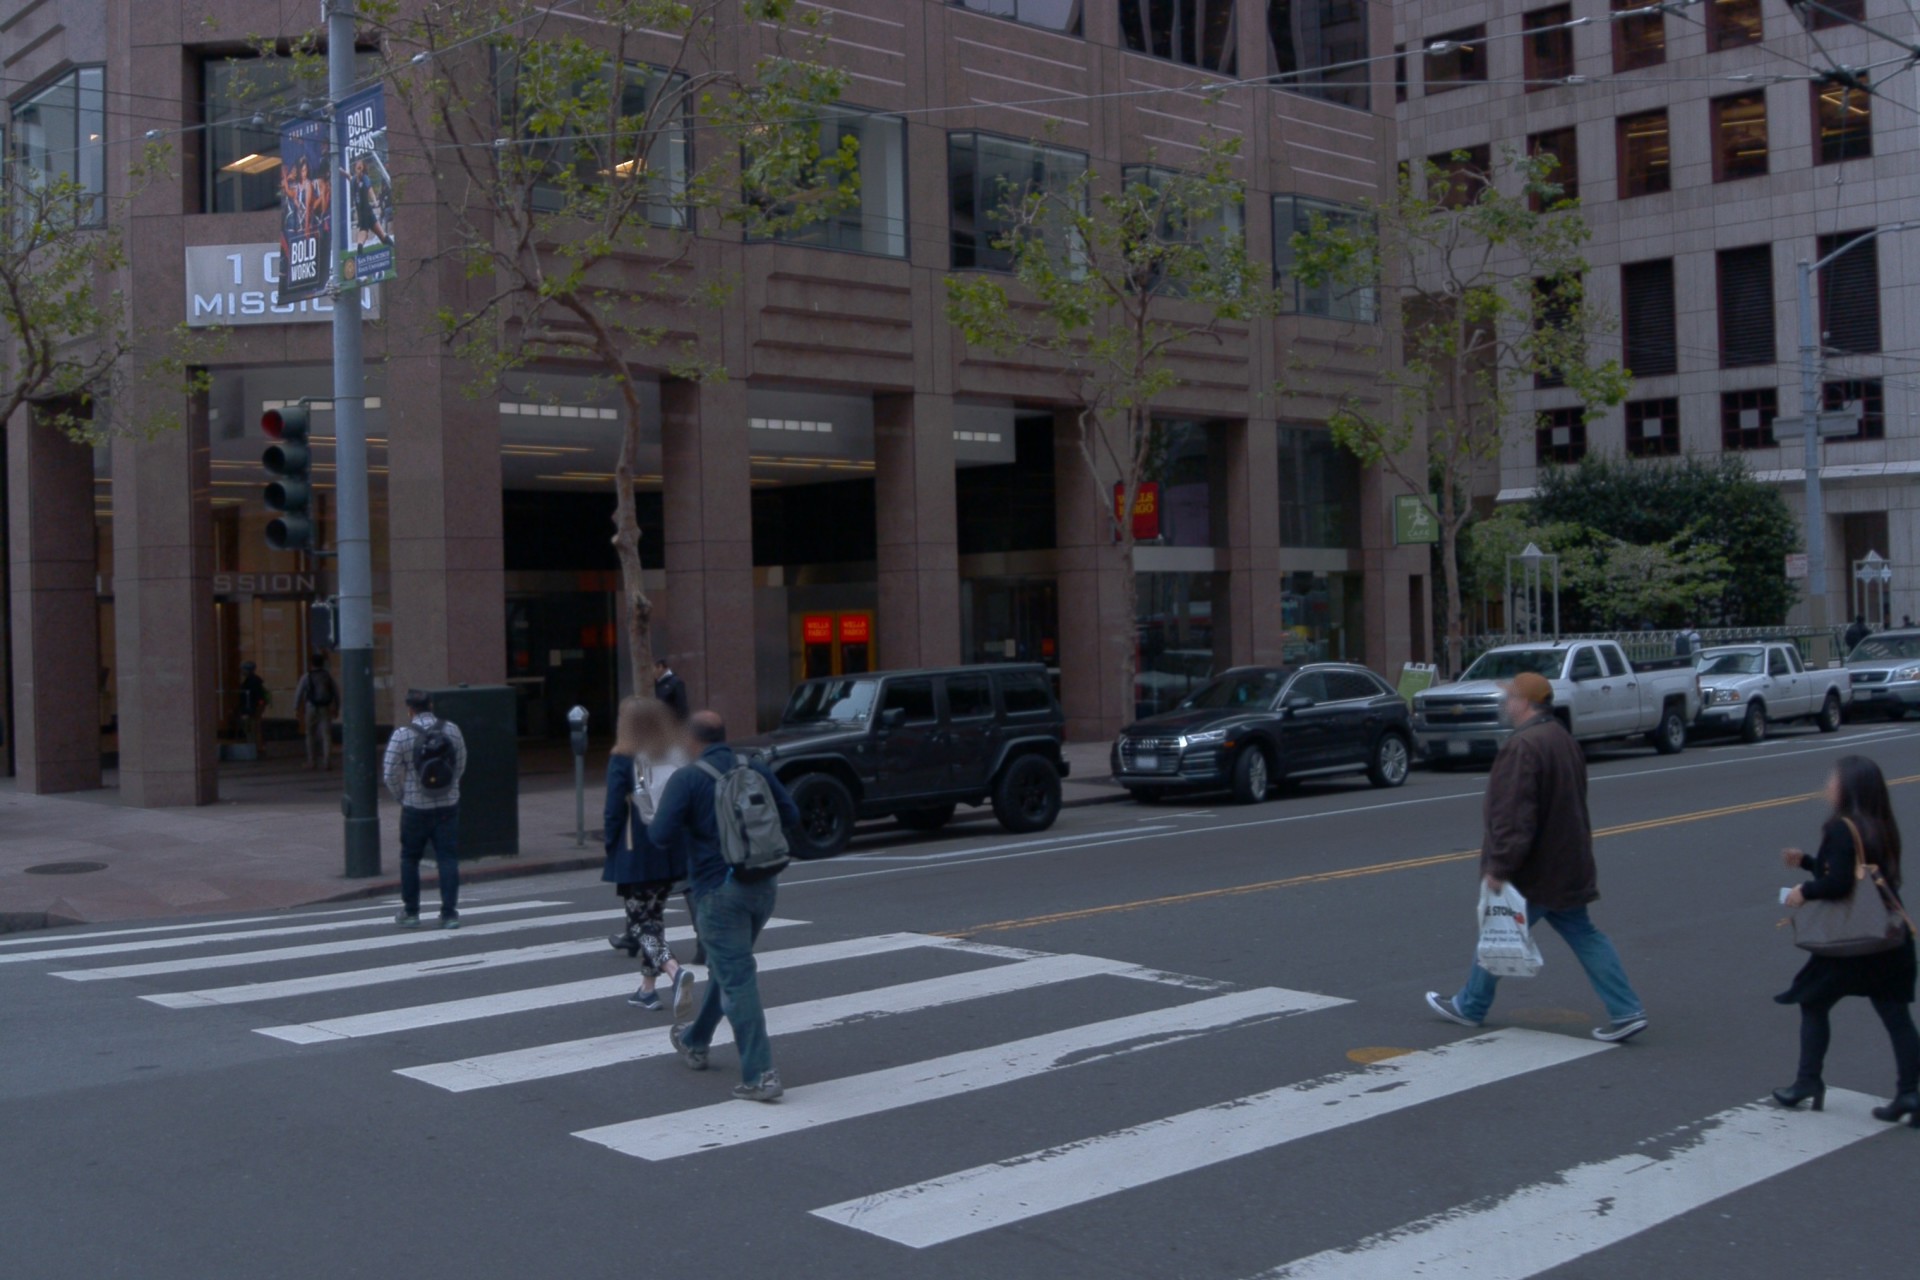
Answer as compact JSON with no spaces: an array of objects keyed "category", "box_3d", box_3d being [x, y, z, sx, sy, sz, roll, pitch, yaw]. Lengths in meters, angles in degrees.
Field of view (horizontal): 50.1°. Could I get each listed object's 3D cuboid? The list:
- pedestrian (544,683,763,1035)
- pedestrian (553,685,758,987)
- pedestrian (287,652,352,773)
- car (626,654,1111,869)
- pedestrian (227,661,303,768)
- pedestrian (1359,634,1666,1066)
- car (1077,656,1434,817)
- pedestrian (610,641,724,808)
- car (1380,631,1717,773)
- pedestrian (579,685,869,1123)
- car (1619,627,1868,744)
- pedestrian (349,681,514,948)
[{"category":"pedestrian","box_3d":[-1.639,1.112,10.940,0.748,1.726,0.990,0,0,-38]},{"category":"pedestrian","box_3d":[-1.879,1.158,12.659,0.841,1.726,0.975,0,0,-42]},{"category":"pedestrian","box_3d":[-9.699,1.074,31.130,0.779,1.775,1.055,0,0,-26]},{"category":"car","box_3d":[-0.867,1.164,21.910,4.963,1.950,2.149,-1,1,-43]},{"category":"pedestrian","box_3d":[-11.495,1.218,34.011,1.002,1.716,0.822,0,0,45]},{"category":"pedestrian","box_3d":[2.729,0.962,10.160,1.152,1.968,0.950,0,0,42]},{"category":"car","box_3d":[3.824,1.133,26.130,4.539,1.770,2.126,-1,1,-43]},{"category":"pedestrian","box_3d":[-3.603,1.016,25.307,1.067,1.985,0.895,0,0,-43]},{"category":"car","box_3d":[8.961,0.836,30.969,2.385,1.890,5.778,0,1,45]},{"category":"pedestrian","box_3d":[-1.056,1.111,9.180,1.010,1.776,0.828,0,0,44]},{"category":"car","box_3d":[13.541,0.706,35.360,2.076,1.850,5.227,0,1,45]},{"category":"pedestrian","box_3d":[-3.840,1.225,14.913,0.777,1.816,1.066,0,0,-39]}]
